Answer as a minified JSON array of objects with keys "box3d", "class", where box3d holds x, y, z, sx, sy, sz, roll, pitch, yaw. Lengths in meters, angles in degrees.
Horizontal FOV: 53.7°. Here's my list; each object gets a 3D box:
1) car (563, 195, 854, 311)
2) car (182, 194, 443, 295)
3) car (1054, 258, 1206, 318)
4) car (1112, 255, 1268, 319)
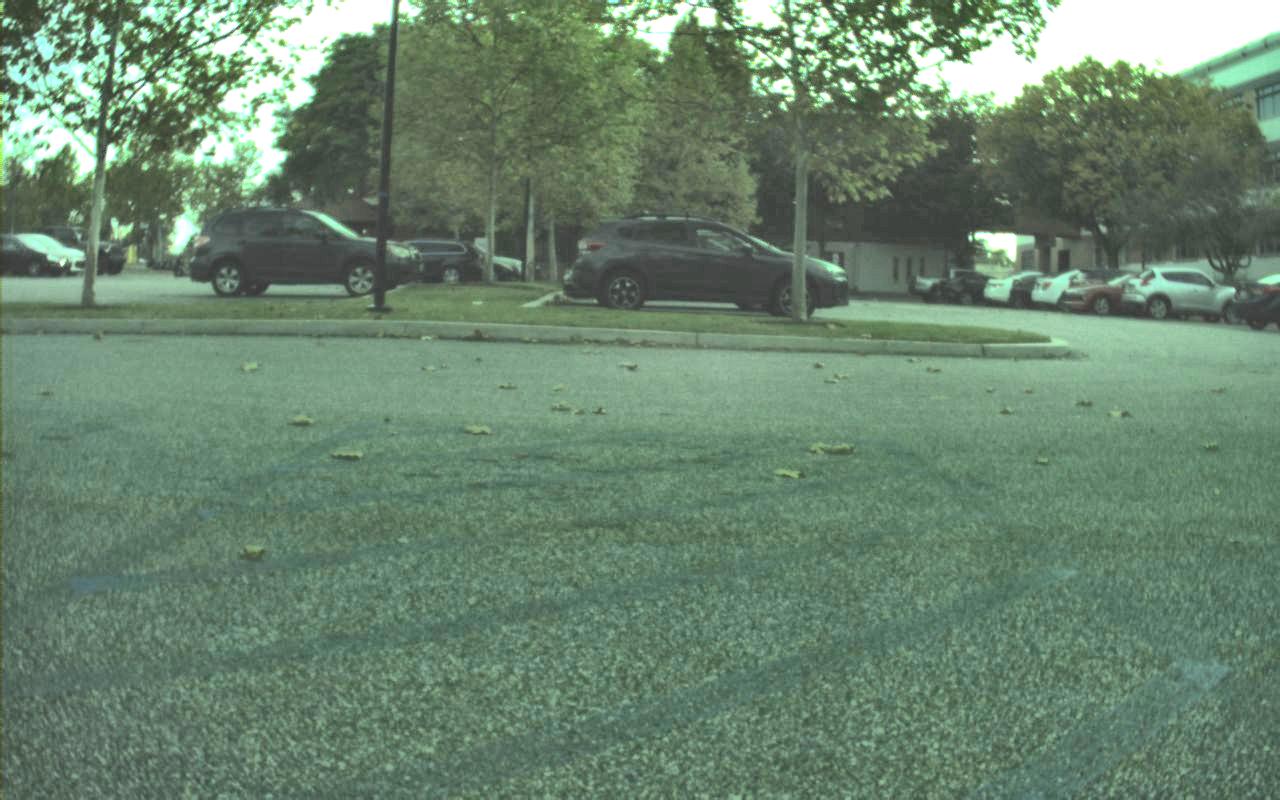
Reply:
[{"box3d":[1.041,-2.333,20.332,4.510,1.655,1.942,0,1,-3],"class":"car"},{"box3d":[-6.219,-2.882,23.214,4.714,1.694,2.016,0,1,-1],"class":"car"},{"box3d":[15.044,-3.350,36.355,4.518,1.631,1.974,1,1,3],"class":"car"},{"box3d":[15.939,-3.166,33.672,4.451,1.642,1.943,1,1,2],"class":"car"}]
